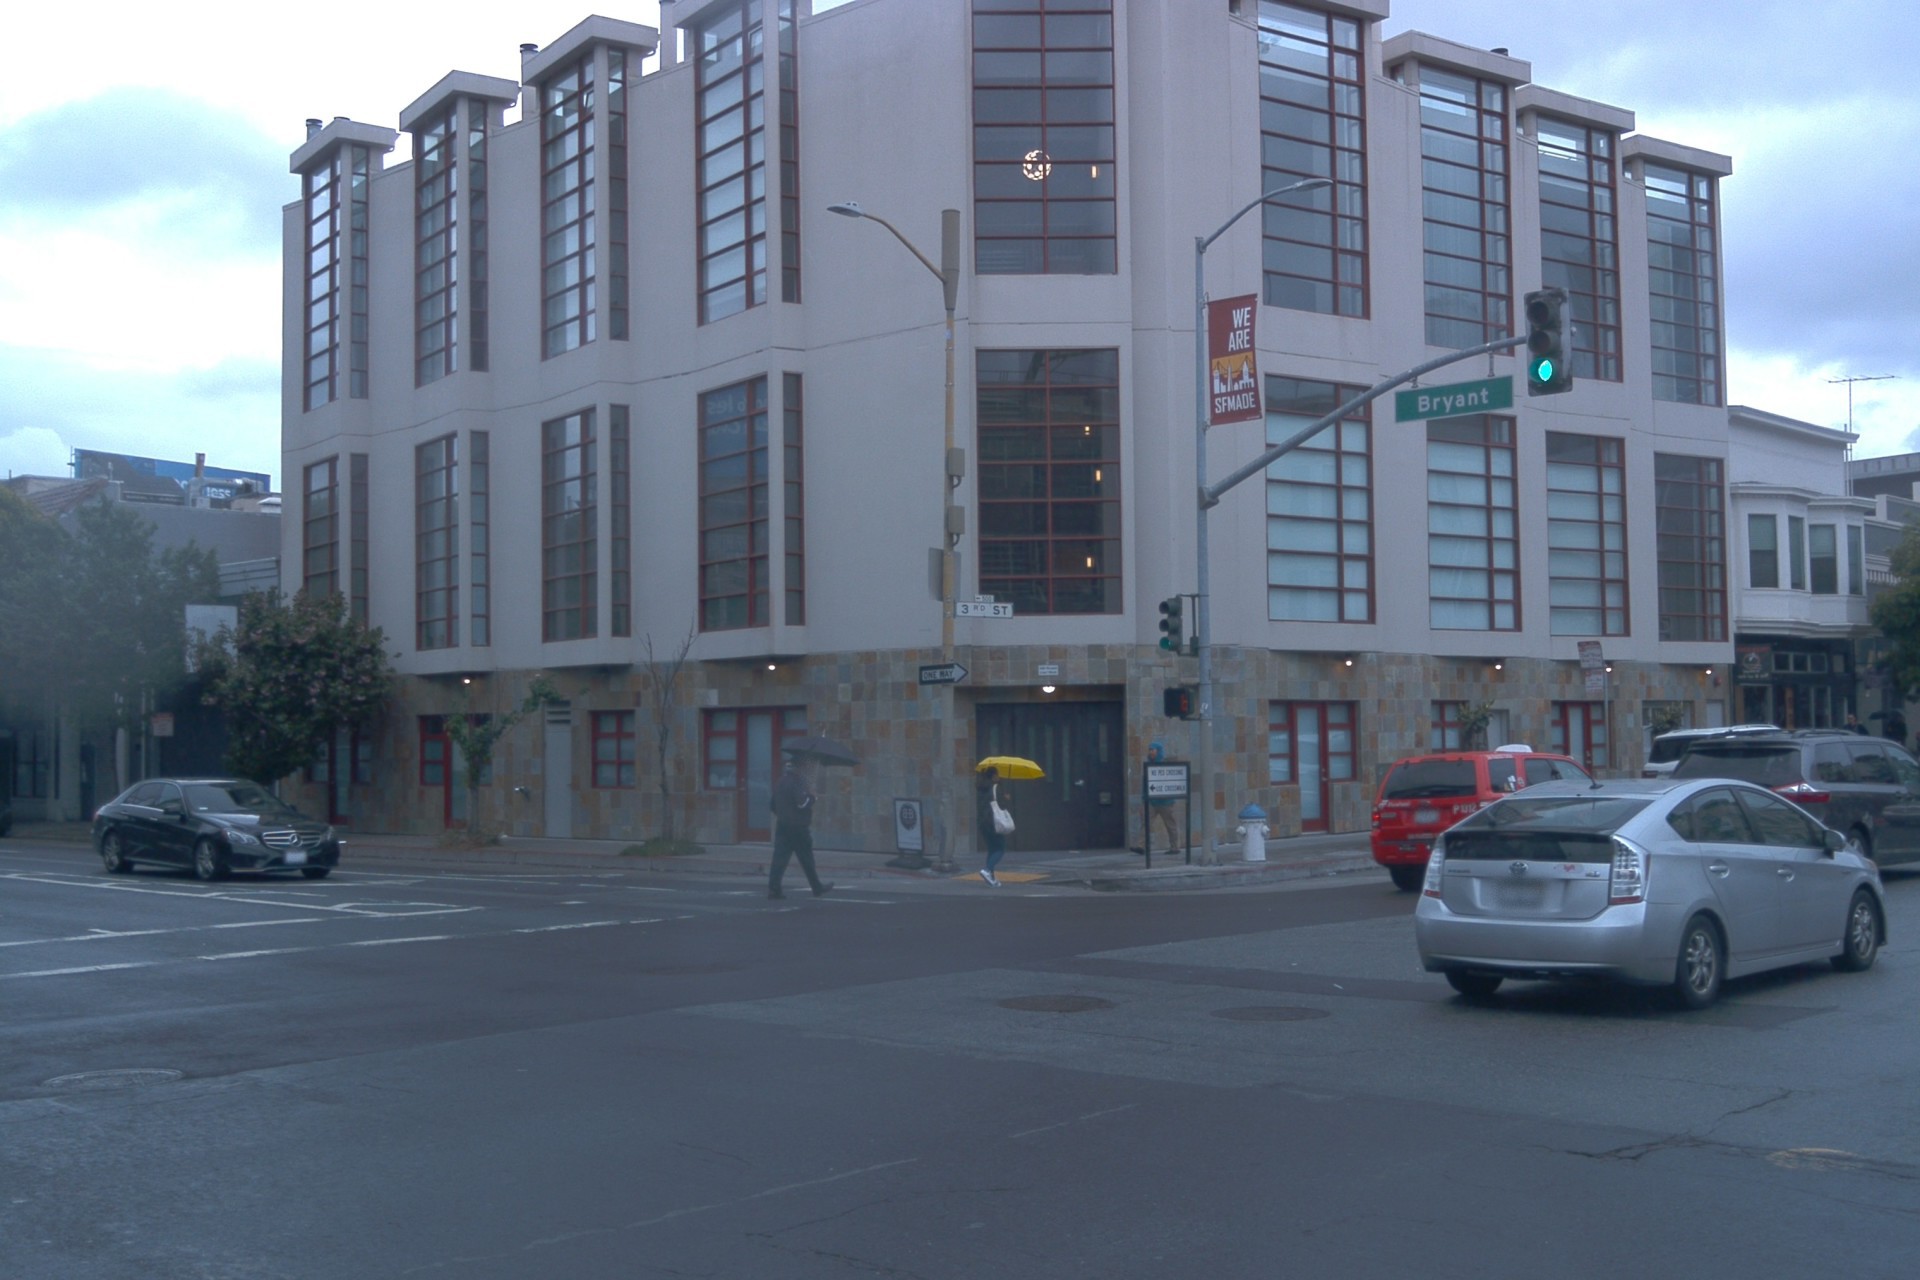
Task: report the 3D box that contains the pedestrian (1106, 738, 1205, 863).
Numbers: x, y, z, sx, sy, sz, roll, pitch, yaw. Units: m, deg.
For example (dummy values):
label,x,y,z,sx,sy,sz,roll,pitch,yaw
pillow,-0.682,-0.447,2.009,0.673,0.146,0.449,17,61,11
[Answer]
label,x,y,z,sx,sy,sz,roll,pitch,yaw
pedestrian,3.012,2.444,31.996,1.235,1.810,0.924,0,0,-44

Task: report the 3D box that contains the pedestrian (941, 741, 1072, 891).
label,x,y,z,sx,sy,sz,roll,pitch,yaw
pedestrian,0.622,2.322,27.850,1.137,1.860,1.362,0,0,42

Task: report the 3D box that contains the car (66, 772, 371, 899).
label,x,y,z,sx,sy,sz,roll,pitch,yaw
car,-10.932,2.800,30.508,4.853,1.410,2.145,0,0,42

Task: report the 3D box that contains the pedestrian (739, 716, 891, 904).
label,x,y,z,sx,sy,sz,roll,pitch,yaw
pedestrian,-1.740,2.002,24.994,1.227,2.110,1.342,0,0,40

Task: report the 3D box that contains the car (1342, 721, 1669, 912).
label,x,y,z,sx,sy,sz,roll,pitch,yaw
car,6.859,2.088,25.890,2.023,1.980,4.501,0,0,43
